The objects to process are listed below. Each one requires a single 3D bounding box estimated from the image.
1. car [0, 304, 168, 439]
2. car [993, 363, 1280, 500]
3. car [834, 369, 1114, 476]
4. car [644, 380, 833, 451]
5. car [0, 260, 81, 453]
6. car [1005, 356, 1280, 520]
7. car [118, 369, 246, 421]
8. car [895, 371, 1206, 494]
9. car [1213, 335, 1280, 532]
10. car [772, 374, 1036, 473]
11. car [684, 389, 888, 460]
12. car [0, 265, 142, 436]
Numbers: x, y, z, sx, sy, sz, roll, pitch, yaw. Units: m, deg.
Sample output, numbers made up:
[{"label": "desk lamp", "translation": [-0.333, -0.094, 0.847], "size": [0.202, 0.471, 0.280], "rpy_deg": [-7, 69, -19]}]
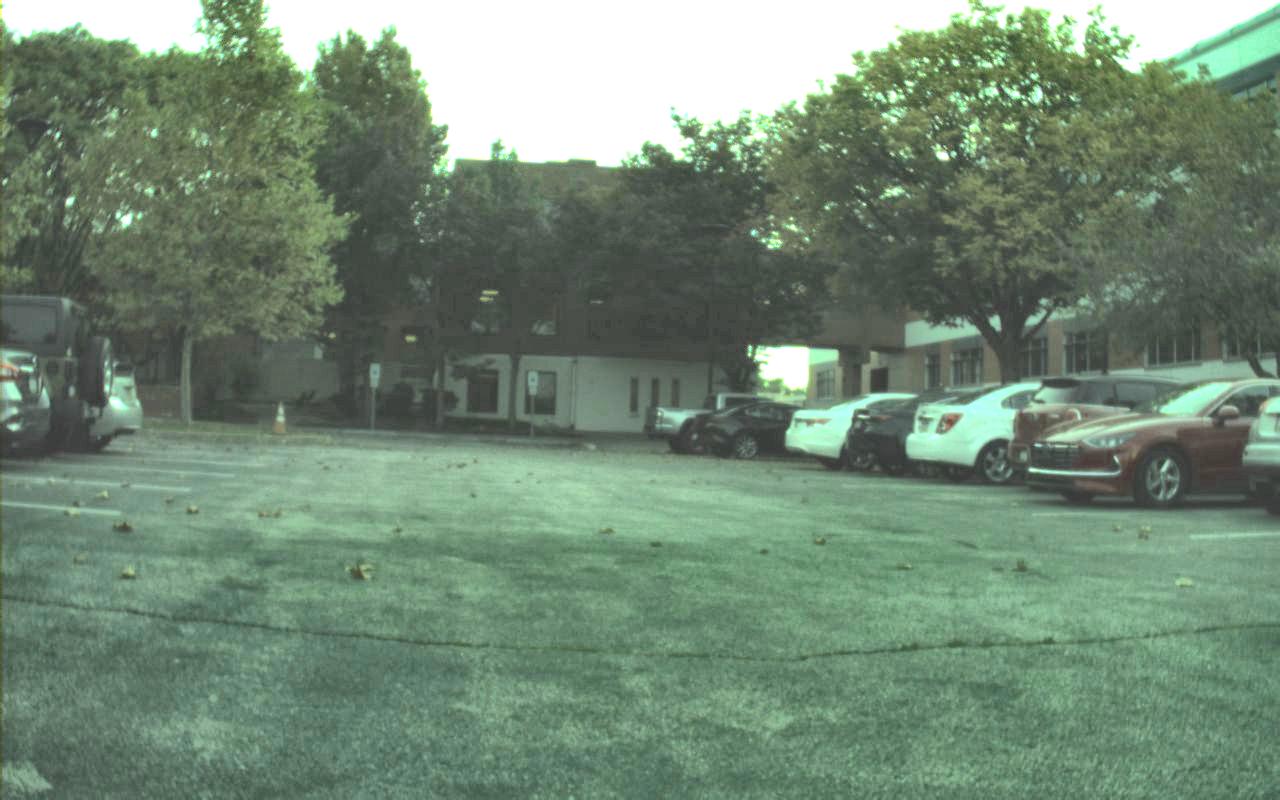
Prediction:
[{"label": "car", "translation": [-8.585, -0.352, 15.001], "size": [4.481, 1.666, 1.974], "rpy_deg": [0, 1, -11]}, {"label": "car", "translation": [7.023, 0.366, 15.766], "size": [4.438, 1.626, 1.932], "rpy_deg": [0, 1, -18]}, {"label": "car", "translation": [5.631, 0.346, 20.651], "size": [4.421, 1.655, 1.949], "rpy_deg": [0, 1, -9]}, {"label": "car", "translation": [2.762, 0.410, 35.716], "size": [5.014, 1.917, 2.097], "rpy_deg": [0, 1, -11]}, {"label": "car", "translation": [-7.630, -0.371, 10.077], "size": [4.457, 1.637, 1.963], "rpy_deg": [0, 1, -11]}, {"label": "car", "translation": [6.424, 0.364, 12.825], "size": [4.565, 1.576, 1.936], "rpy_deg": [0, 1, -10]}, {"label": "car", "translation": [-16.343, -0.124, 42.298], "size": [4.740, 1.766, 1.990], "rpy_deg": [0, 1, -20]}, {"label": "car", "translation": [6.218, 0.445, 18.211], "size": [4.465, 1.687, 1.952], "rpy_deg": [0, 1, -7]}, {"label": "car", "translation": [7.735, 0.296, 10.345], "size": [4.310, 1.640, 1.902], "rpy_deg": [0, 1, -9]}, {"label": "car", "translation": [4.912, 0.399, 23.173], "size": [4.583, 1.719, 1.994], "rpy_deg": [0, 1, -8]}, {"label": "car", "translation": [3.576, 0.568, 30.733], "size": [4.595, 1.601, 1.958], "rpy_deg": [0, 1, -18]}, {"label": "car", "translation": [-8.103, -0.522, 12.625], "size": [4.681, 1.798, 2.025], "rpy_deg": [0, 1, -13]}]
